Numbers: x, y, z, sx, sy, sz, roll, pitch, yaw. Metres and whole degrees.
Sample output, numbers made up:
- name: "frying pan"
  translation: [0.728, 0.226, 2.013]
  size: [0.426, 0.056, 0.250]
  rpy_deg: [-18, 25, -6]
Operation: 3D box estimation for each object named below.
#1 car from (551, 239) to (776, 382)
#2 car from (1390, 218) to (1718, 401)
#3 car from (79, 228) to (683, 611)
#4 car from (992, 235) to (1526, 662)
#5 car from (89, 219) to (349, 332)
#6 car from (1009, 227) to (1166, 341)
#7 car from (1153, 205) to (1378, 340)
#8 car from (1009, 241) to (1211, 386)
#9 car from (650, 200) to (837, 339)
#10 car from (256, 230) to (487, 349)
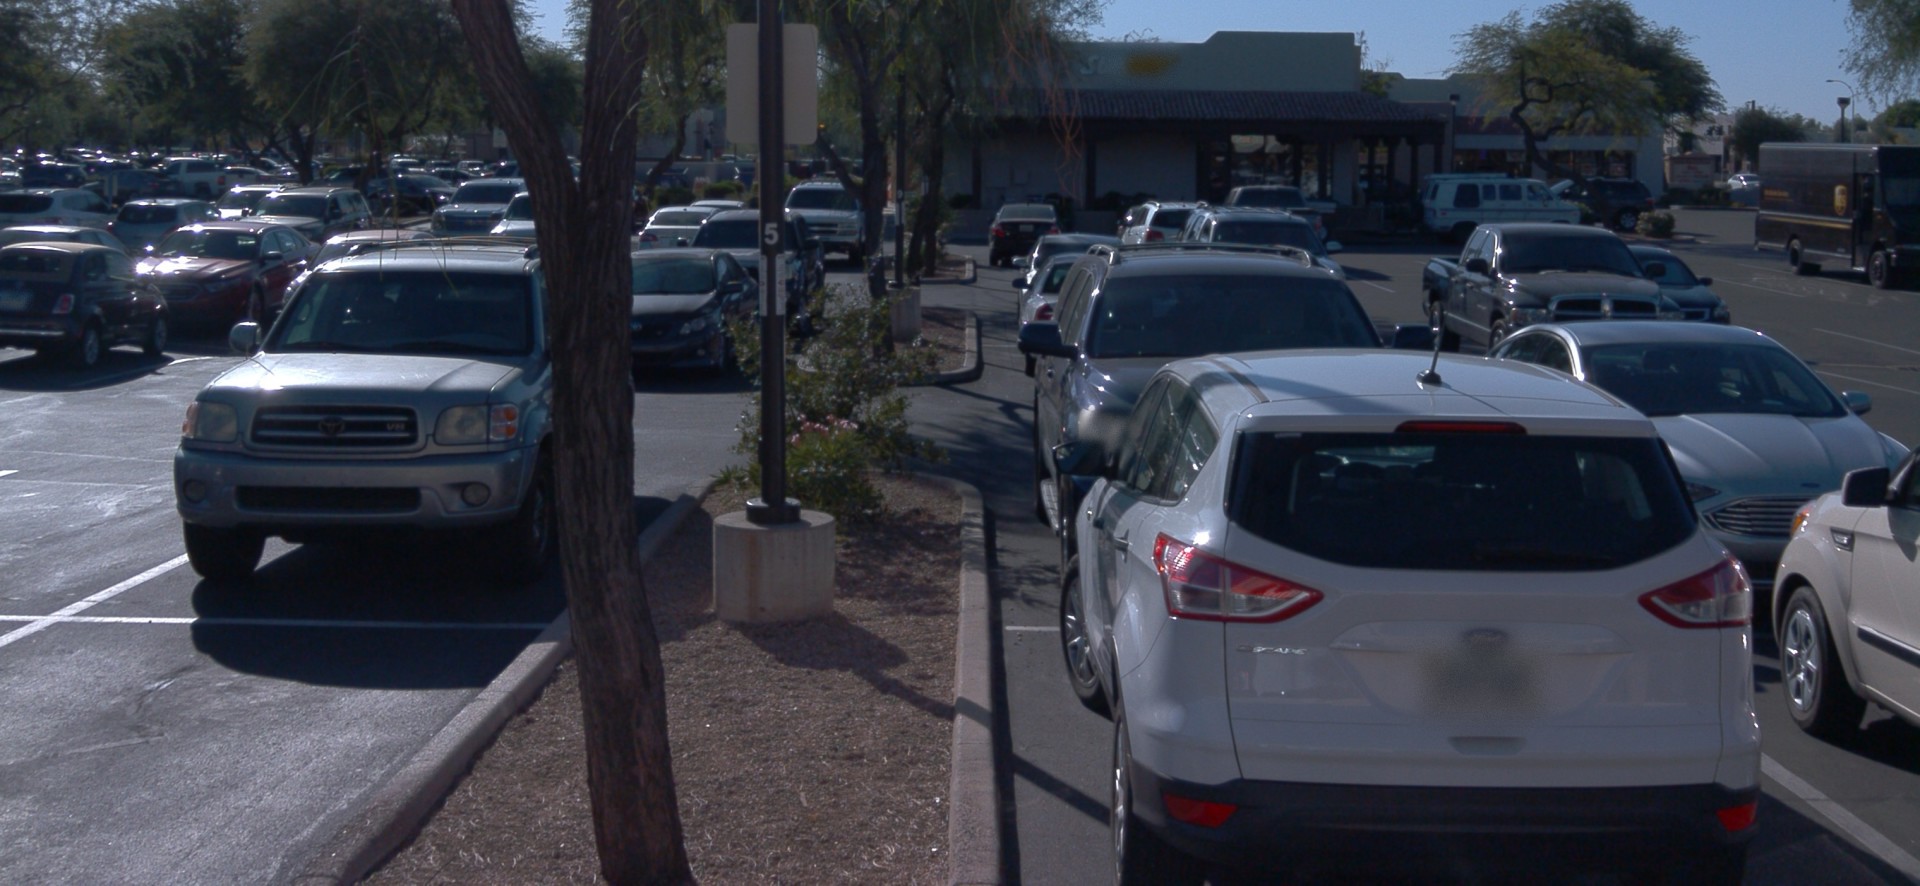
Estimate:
- name: "car"
  translation: [-3.540, -1.716, 25.653]
  size: [2.083, 1.543, 4.565]
  rpy_deg: [1, 6, 0]
- name: "car"
  translation: [7.272, -1.804, 26.207]
  size: [2.523, 2.021, 5.784]
  rpy_deg: [1, 6, 0]
- name: "car"
  translation: [-3.354, -0.389, 13.367]
  size: [2.382, 1.941, 5.207]
  rpy_deg: [1, 5, 0]
- name: "car"
  translation: [1.528, -0.222, 12.867]
  size: [2.497, 2.061, 5.138]
  rpy_deg: [1, 5, -1]
- name: "car"
  translation: [-11.174, -2.627, 31.726]
  size: [2.086, 1.562, 4.913]
  rpy_deg: [1, 6, 2]
- name: "car"
  translation: [1.849, -2.472, 31.456]
  size: [2.127, 1.553, 4.507]
  rpy_deg: [1, 6, 0]
- name: "car"
  translation: [4.575, -2.692, 32.015]
  size: [2.482, 1.891, 5.237]
  rpy_deg: [0, 5, -3]
- name: "car"
  translation: [1.769, -1.708, 25.908]
  size: [2.256, 1.562, 5.128]
  rpy_deg: [1, 6, 2]
- name: "car"
  translation: [-3.179, -2.701, 31.603]
  size: [2.086, 1.901, 5.342]
  rpy_deg: [1, 5, 2]
- name: "car"
  translation: [-8.567, -2.332, 30.640]
  size: [2.010, 1.593, 4.474]
  rpy_deg: [1, 5, 2]
